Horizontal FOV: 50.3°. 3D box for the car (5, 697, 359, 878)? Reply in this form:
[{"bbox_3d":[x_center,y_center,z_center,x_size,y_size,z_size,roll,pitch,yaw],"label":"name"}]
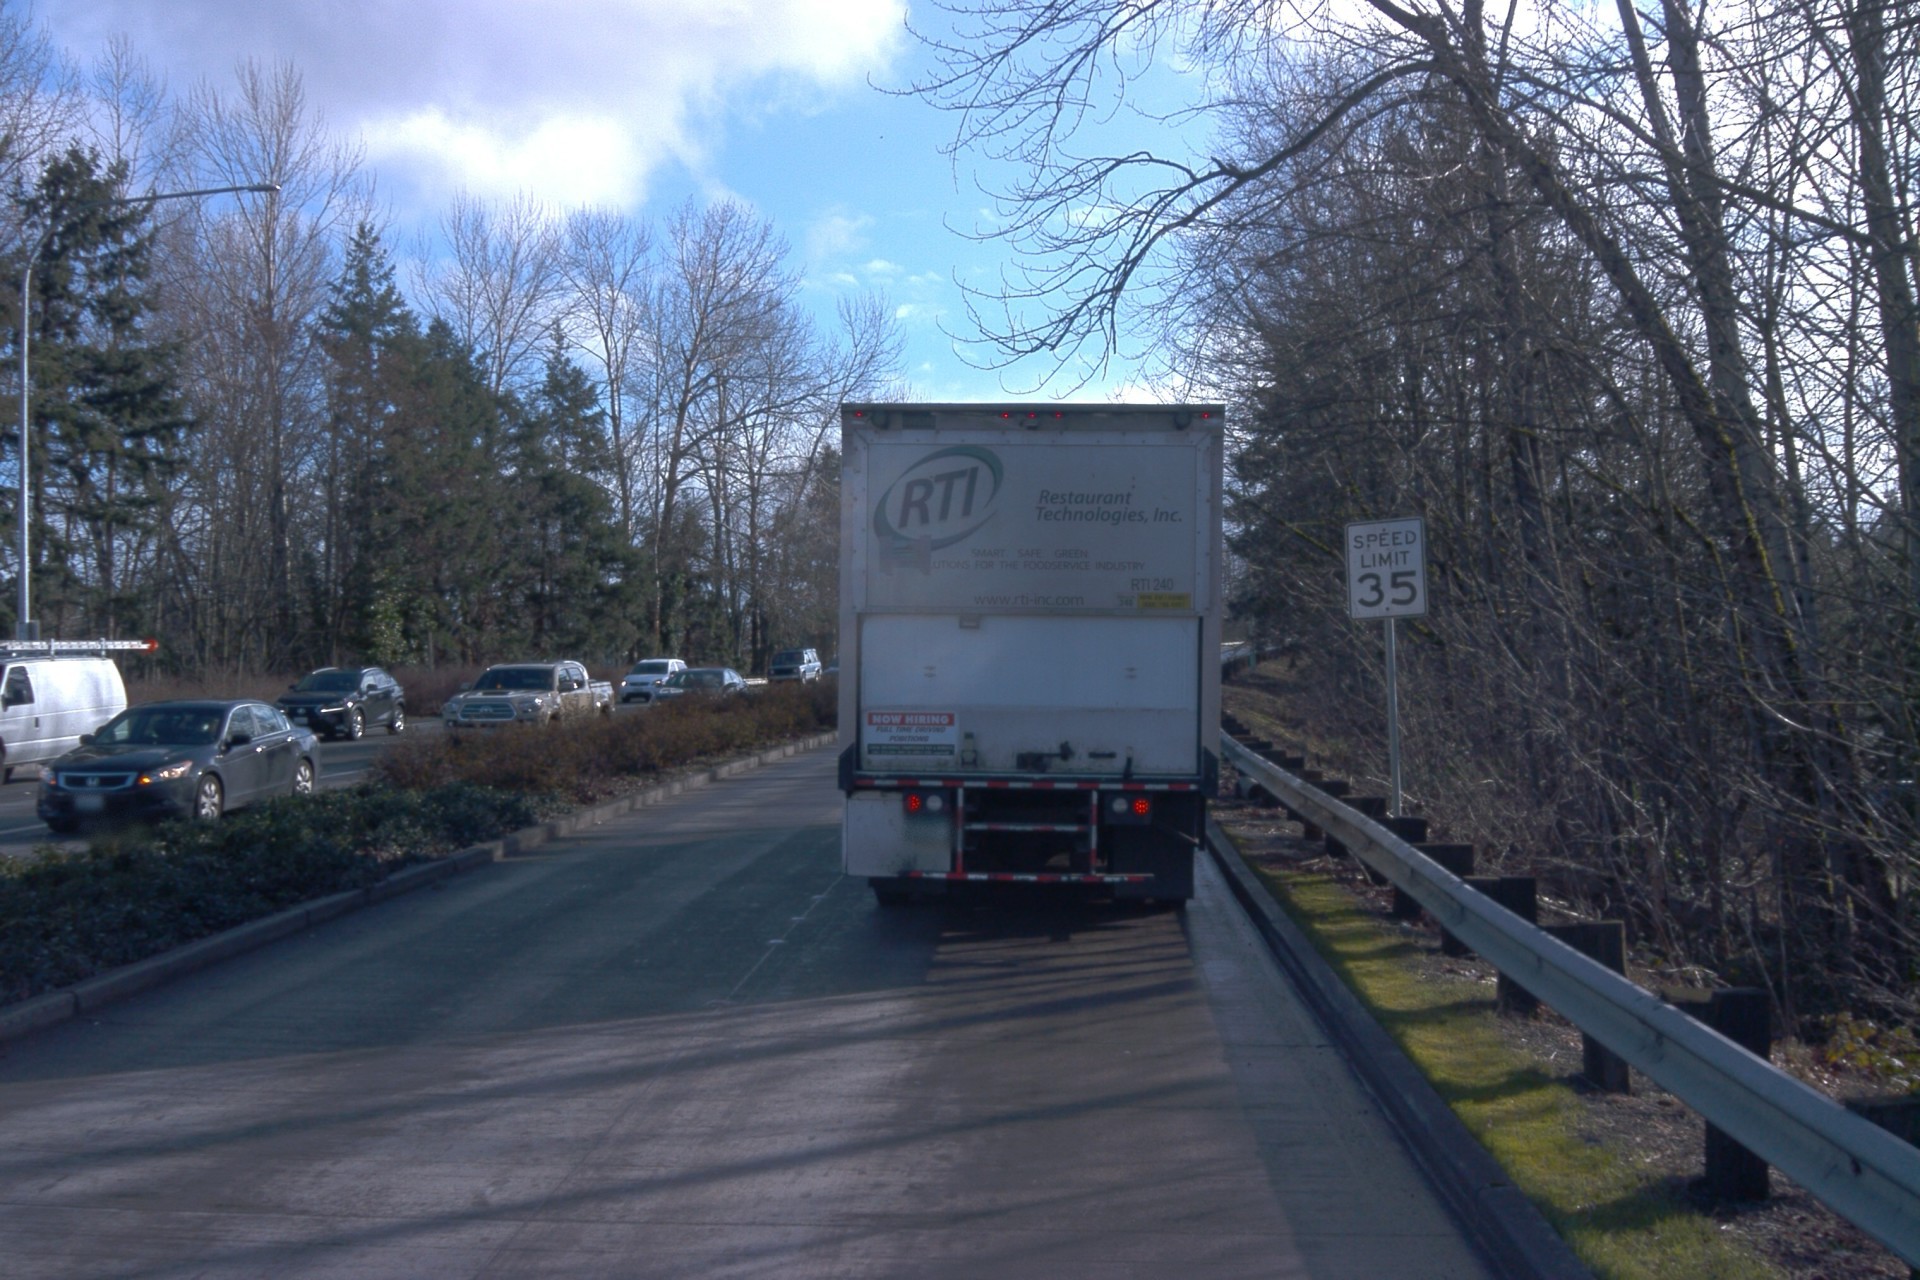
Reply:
[{"bbox_3d":[-9.206,1.675,24.729,2.187,1.770,4.870,1,0,3],"label":"car"}]

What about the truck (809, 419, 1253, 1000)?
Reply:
[{"bbox_3d":[0.696,0.434,16.900,2.898,3.820,6.536,1,0,4],"label":"truck"}]
